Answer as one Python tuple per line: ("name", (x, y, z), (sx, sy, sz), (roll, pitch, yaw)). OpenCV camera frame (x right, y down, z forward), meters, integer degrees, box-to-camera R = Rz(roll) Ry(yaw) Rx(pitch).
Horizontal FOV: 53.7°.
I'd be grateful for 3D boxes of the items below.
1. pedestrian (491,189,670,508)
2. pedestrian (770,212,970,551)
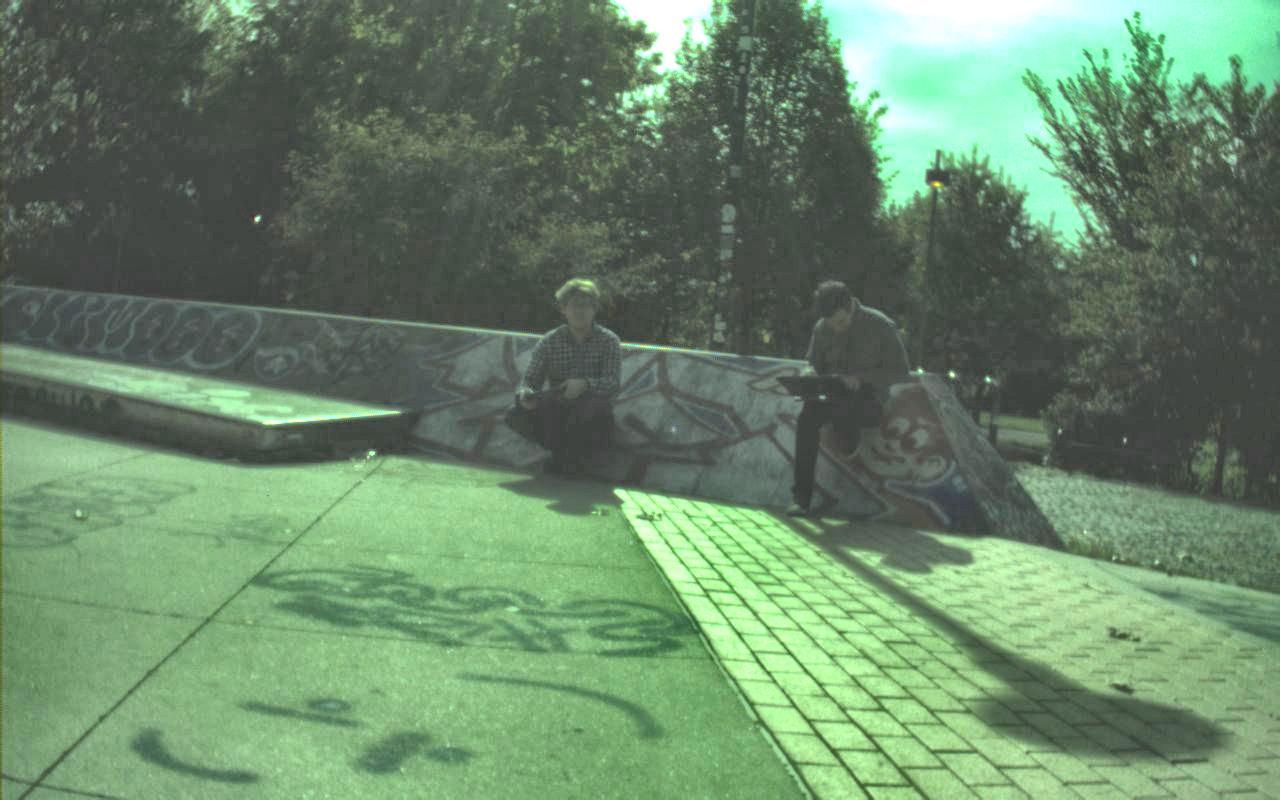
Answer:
("pedestrian", (-0.309, -0.281, 6.946), (0.799, 1.643, 0.766), (0, 0, 13))
("pedestrian", (1.181, -0.095, 6.470), (0.824, 1.637, 0.763), (0, 0, -11))
